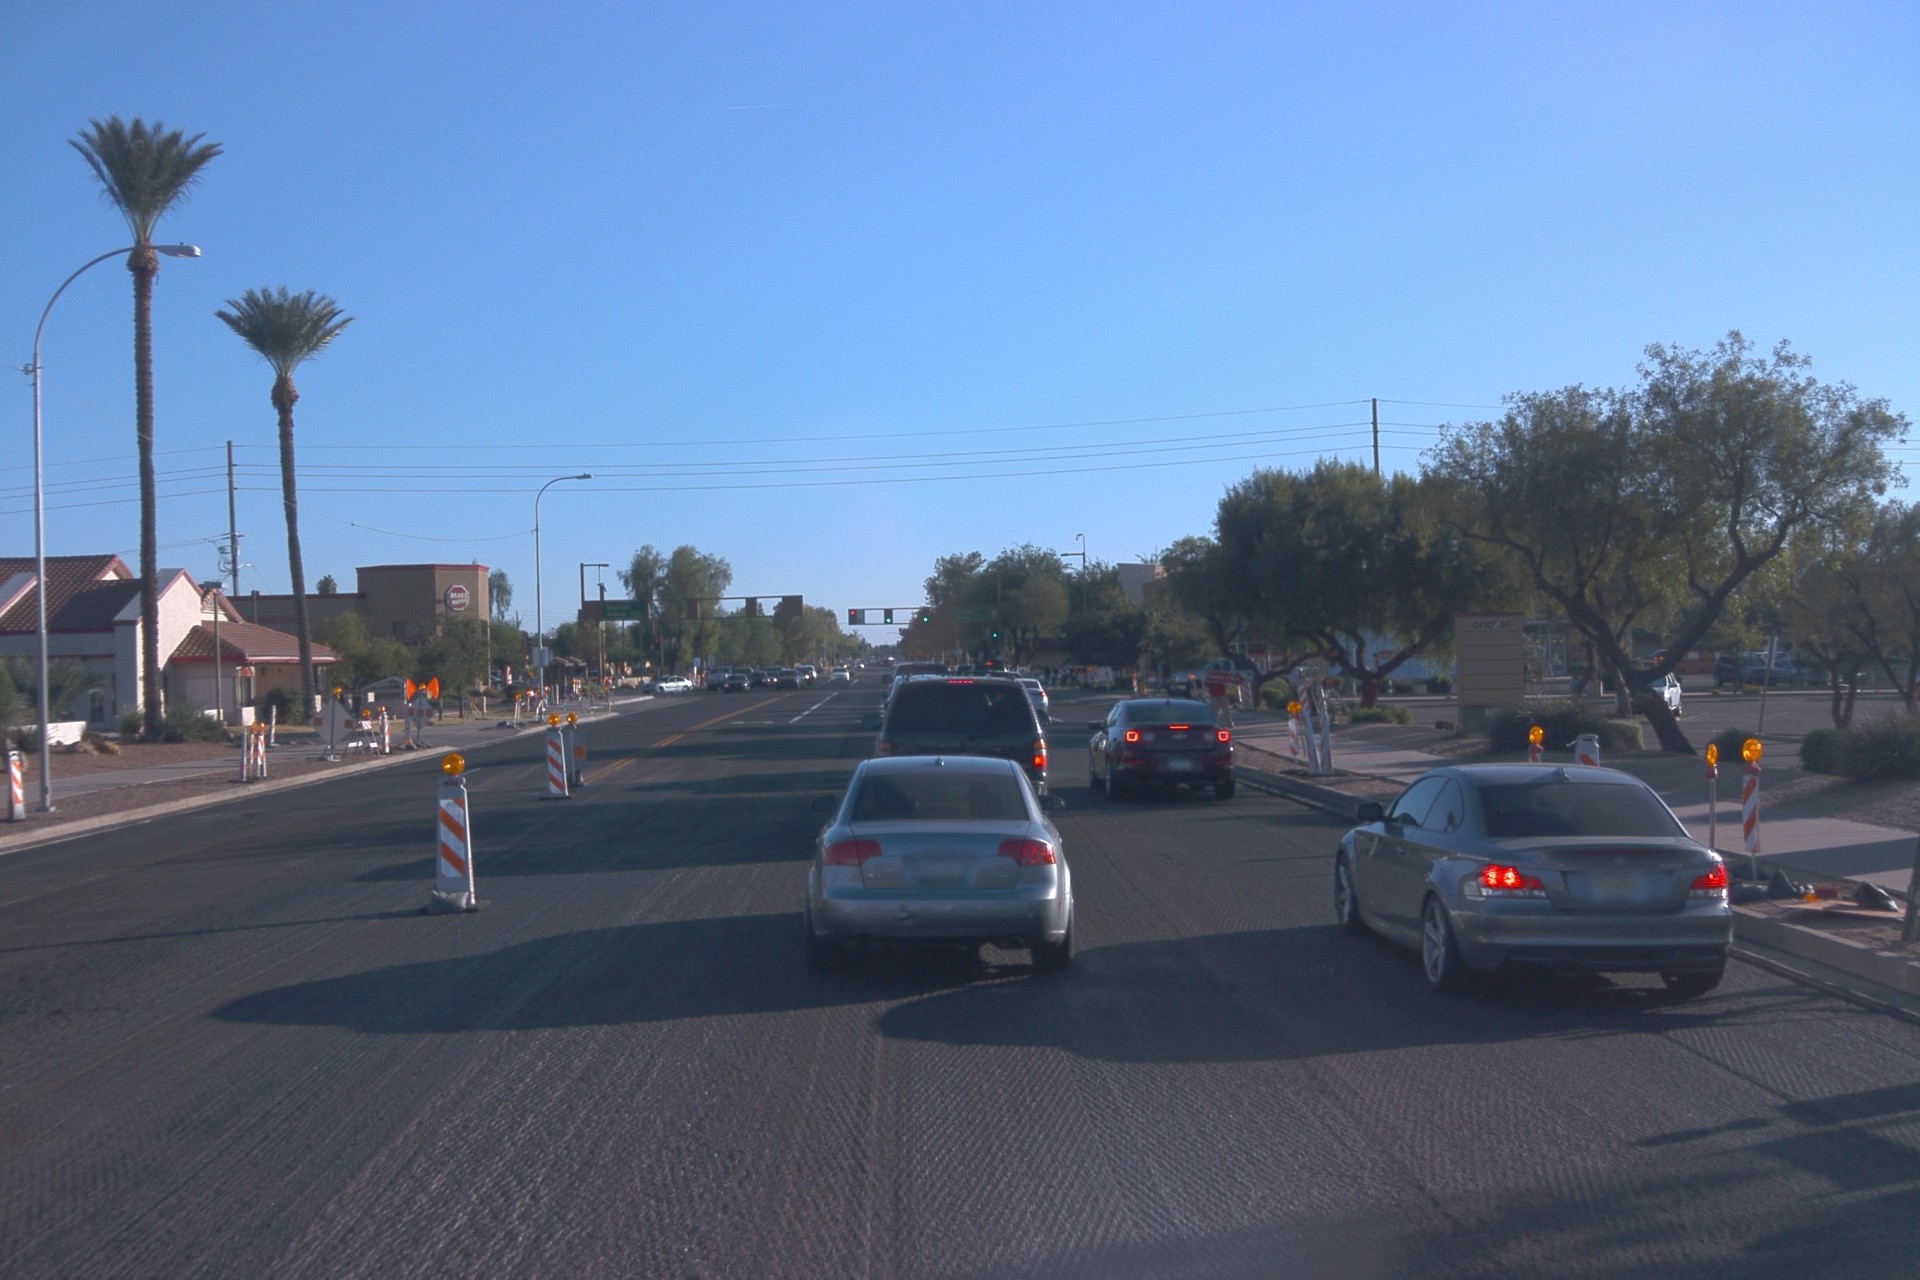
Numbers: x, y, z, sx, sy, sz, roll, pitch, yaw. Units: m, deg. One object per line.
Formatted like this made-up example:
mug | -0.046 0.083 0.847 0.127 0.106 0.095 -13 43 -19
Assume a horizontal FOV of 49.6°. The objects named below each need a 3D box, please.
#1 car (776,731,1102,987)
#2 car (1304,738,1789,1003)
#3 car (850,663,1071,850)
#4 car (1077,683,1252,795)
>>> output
car | -0.142 1.465 15.200 2.033 1.480 4.403 0 -1 0
car | 3.782 1.444 14.293 1.991 1.410 4.328 0 -1 -2
car | -0.031 1.307 25.112 2.405 2.040 5.062 0 -1 -1
car | 3.012 1.444 31.649 2.110 1.540 4.834 0 -1 -1
